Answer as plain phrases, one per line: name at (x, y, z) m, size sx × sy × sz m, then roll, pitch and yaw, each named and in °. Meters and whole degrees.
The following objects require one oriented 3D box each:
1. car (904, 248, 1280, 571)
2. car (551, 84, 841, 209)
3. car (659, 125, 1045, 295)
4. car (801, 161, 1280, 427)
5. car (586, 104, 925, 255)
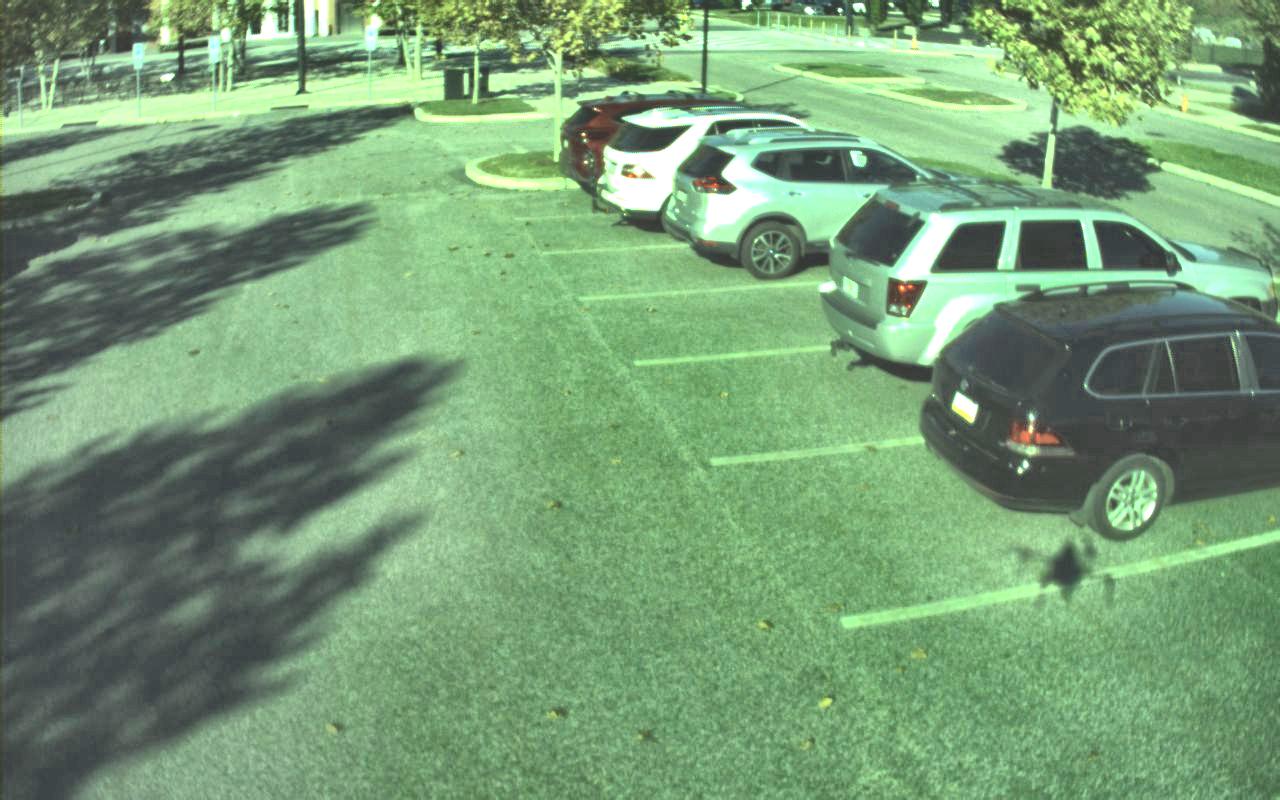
car at (4.332, -0.124, 8.757) m, size 4.401 × 1.574 × 1.916 m, roll -5°, pitch 17°, yaw -13°
car at (0.911, -4.307, 20.824) m, size 4.484 × 1.778 × 1.988 m, roll -5°, pitch 17°, yaw -14°
car at (2.711, -2.537, 15.894) m, size 4.591 × 1.775 × 2.000 m, roll -5°, pitch 17°, yaw -12°
car at (4.036, -1.170, 11.170) m, size 4.743 × 1.882 × 2.054 m, roll -5°, pitch 17°, yaw -12°
car at (1.688, -3.327, 18.244) m, size 4.573 × 1.816 × 2.009 m, roll -6°, pitch 17°, yaw -16°
